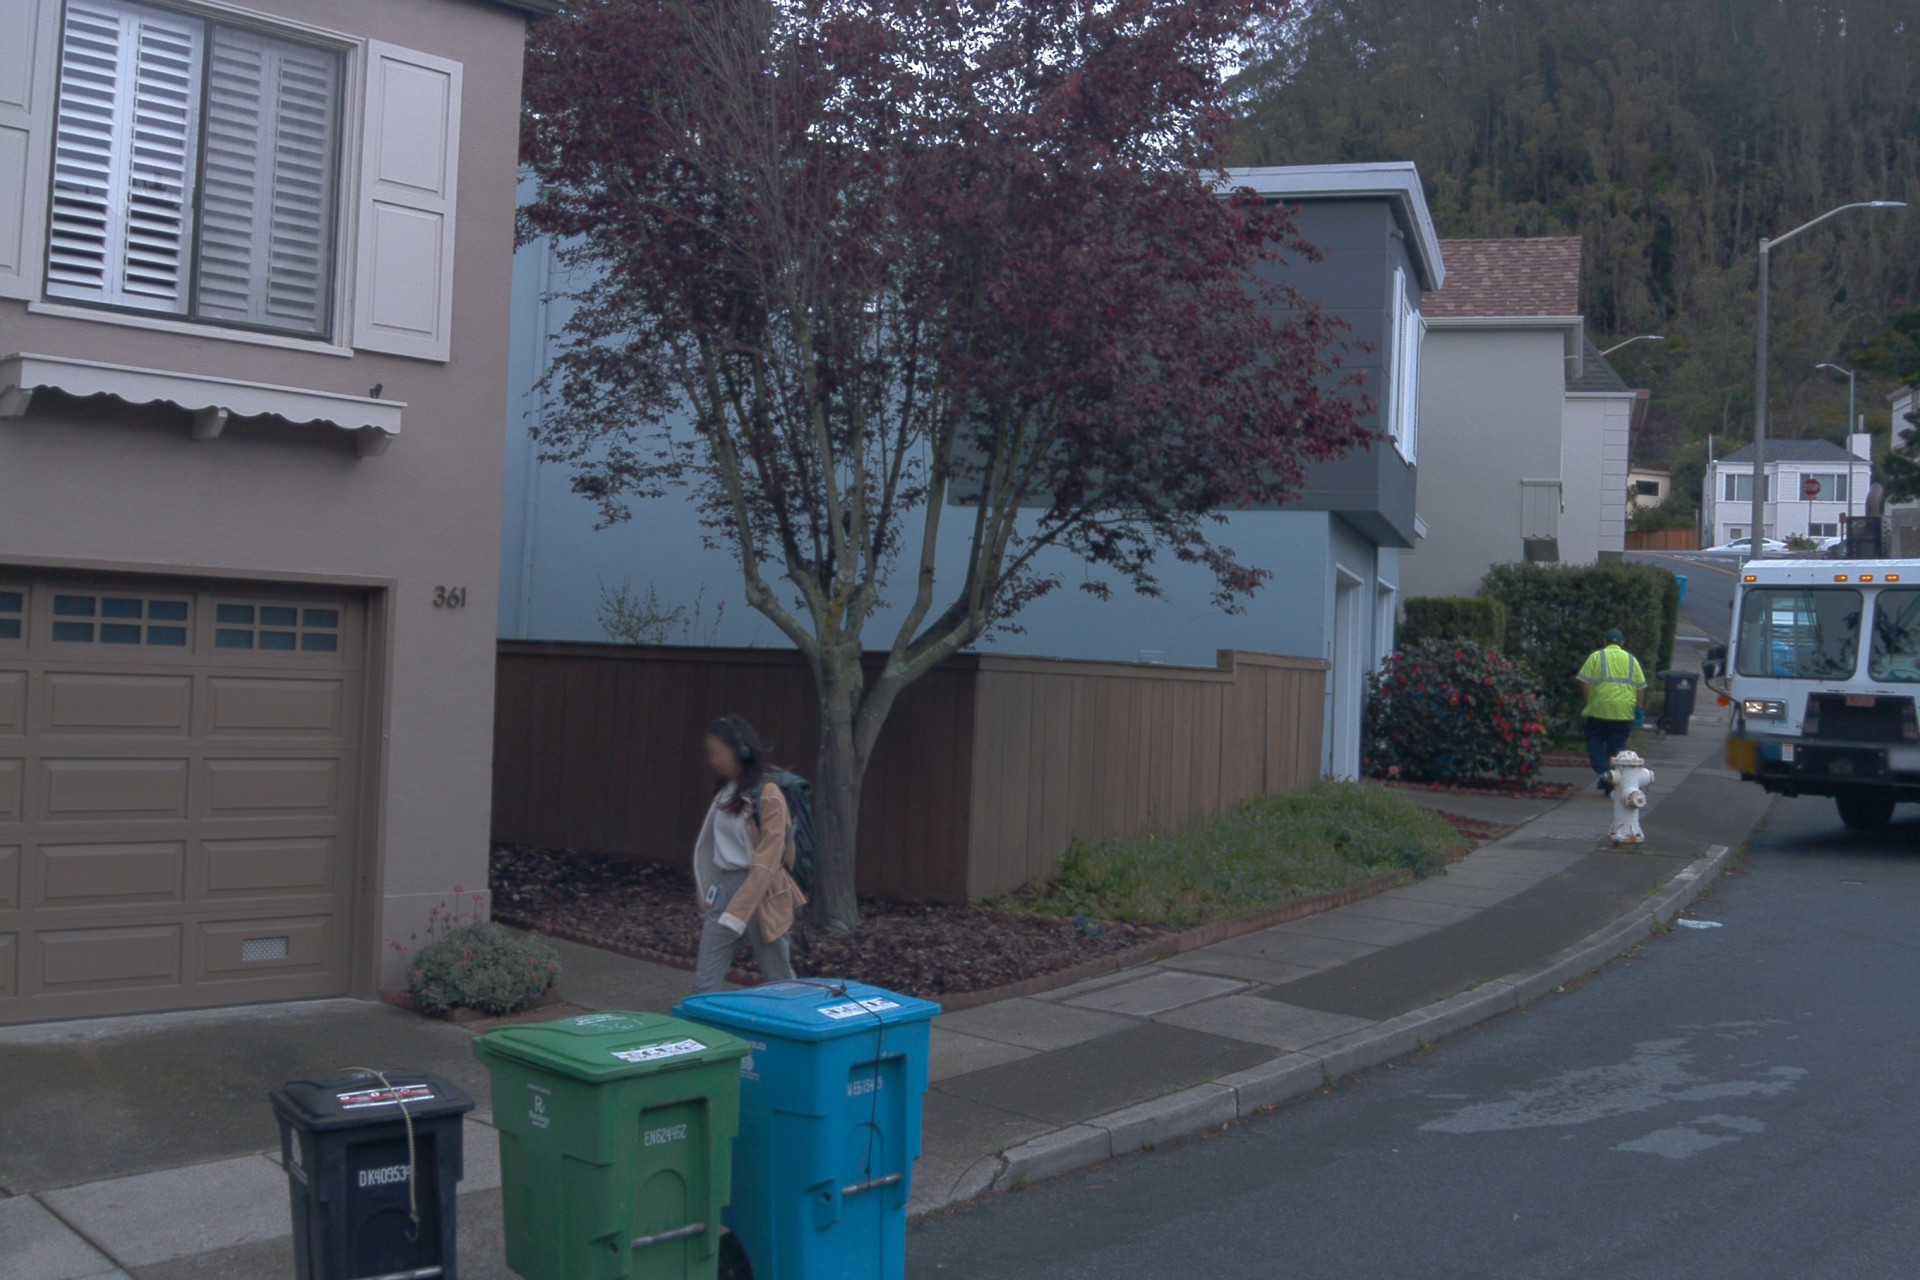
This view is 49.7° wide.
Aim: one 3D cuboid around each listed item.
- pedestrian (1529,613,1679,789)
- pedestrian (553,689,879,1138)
[{"bbox_3d":[6.772,0.622,21.837,1.102,1.790,1.028,0,0,-21],"label":"pedestrian"},{"bbox_3d":[-1.045,1.098,8.902,0.946,1.740,1.007,0,0,44],"label":"pedestrian"}]
